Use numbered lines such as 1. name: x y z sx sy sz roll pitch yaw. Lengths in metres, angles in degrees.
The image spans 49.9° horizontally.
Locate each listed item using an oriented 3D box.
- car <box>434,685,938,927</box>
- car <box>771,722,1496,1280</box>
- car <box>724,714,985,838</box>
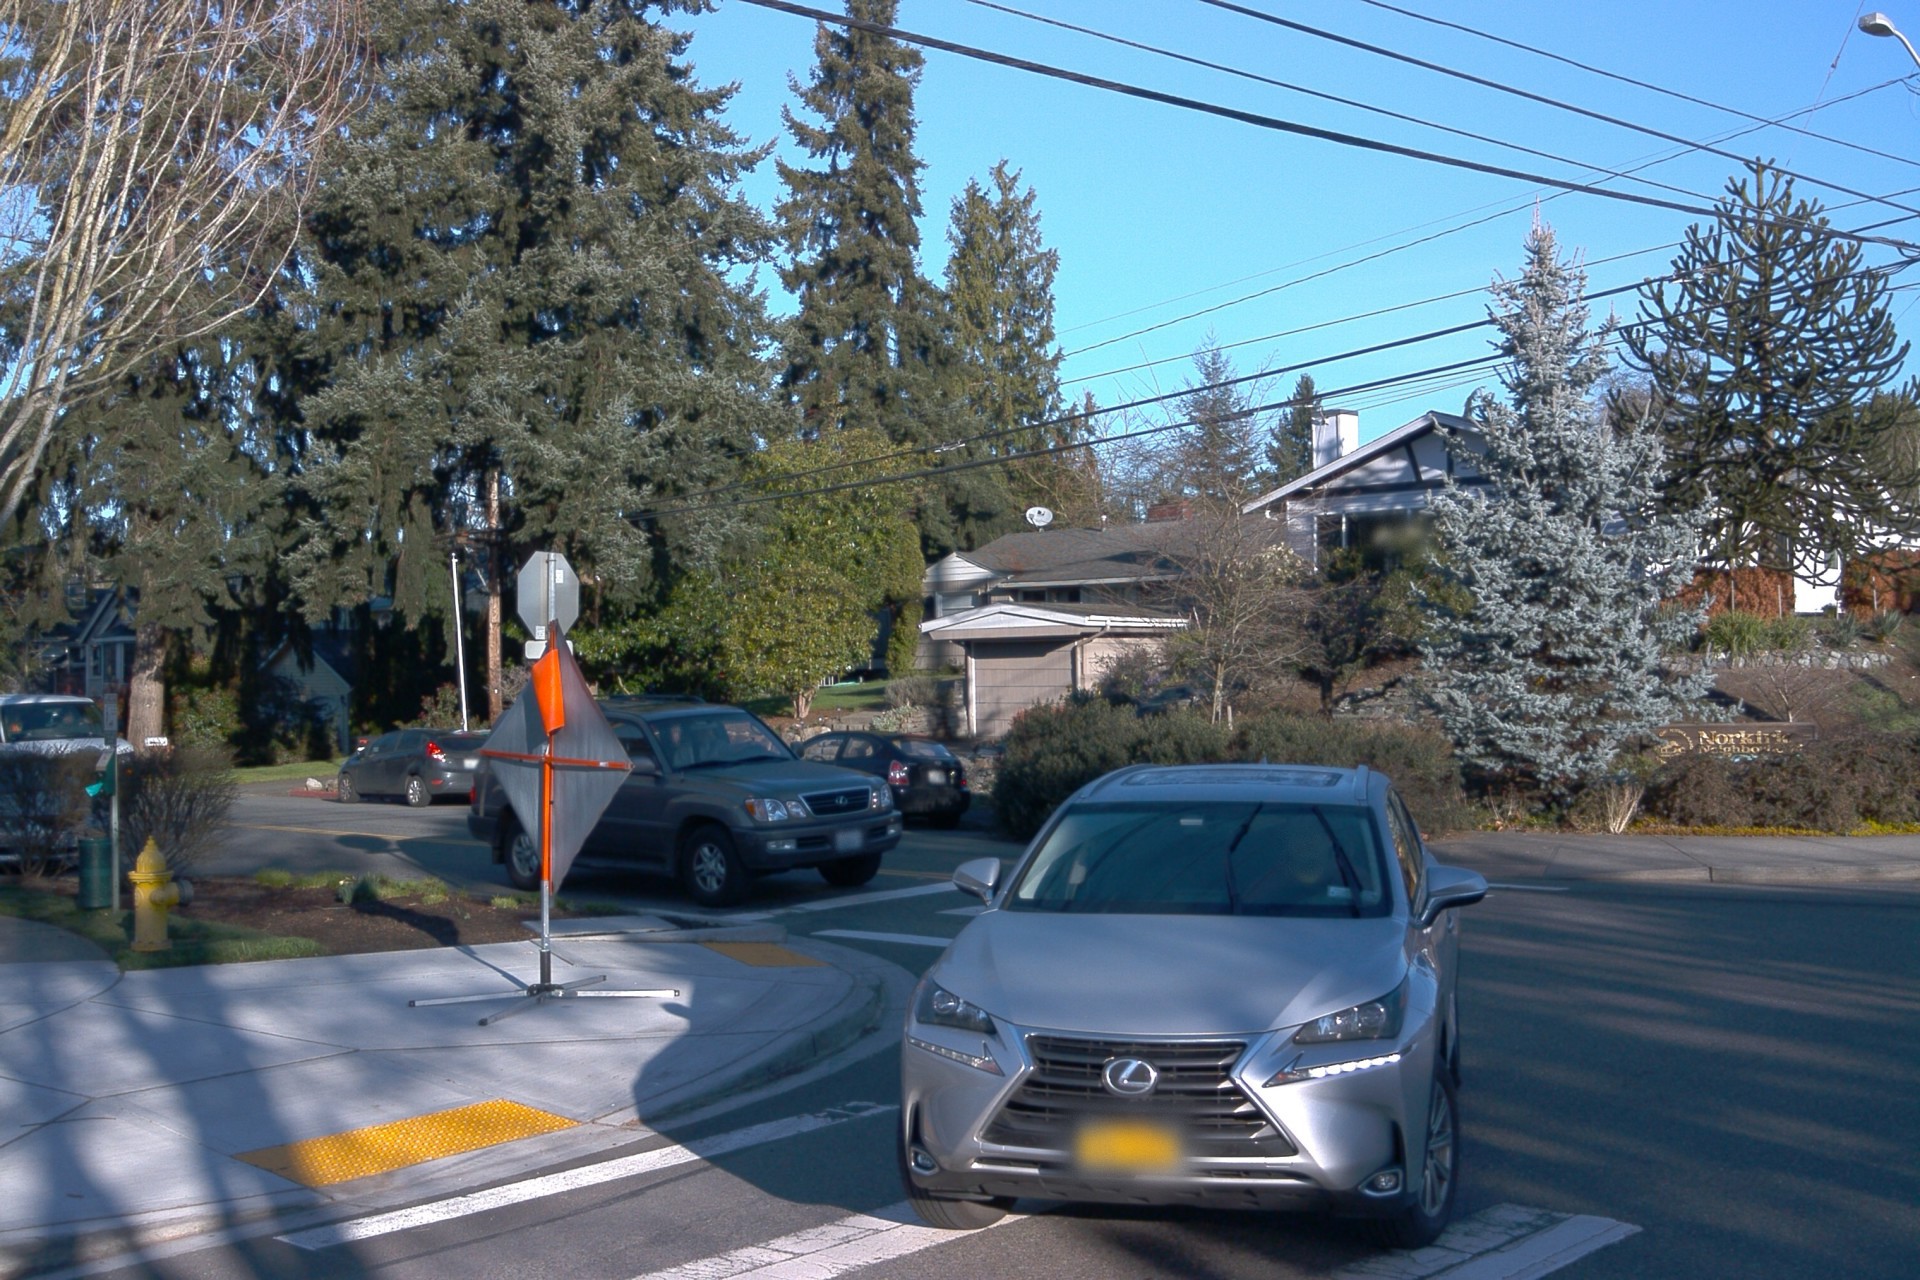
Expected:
1. car: -2.826 1.502 20.495 5.007 1.930 2.286 1 1 43
2. car: 1.068 1.317 8.593 2.191 1.680 4.691 0 1 15
3. car: -1.627 1.986 30.928 3.864 1.540 1.773 1 1 45
